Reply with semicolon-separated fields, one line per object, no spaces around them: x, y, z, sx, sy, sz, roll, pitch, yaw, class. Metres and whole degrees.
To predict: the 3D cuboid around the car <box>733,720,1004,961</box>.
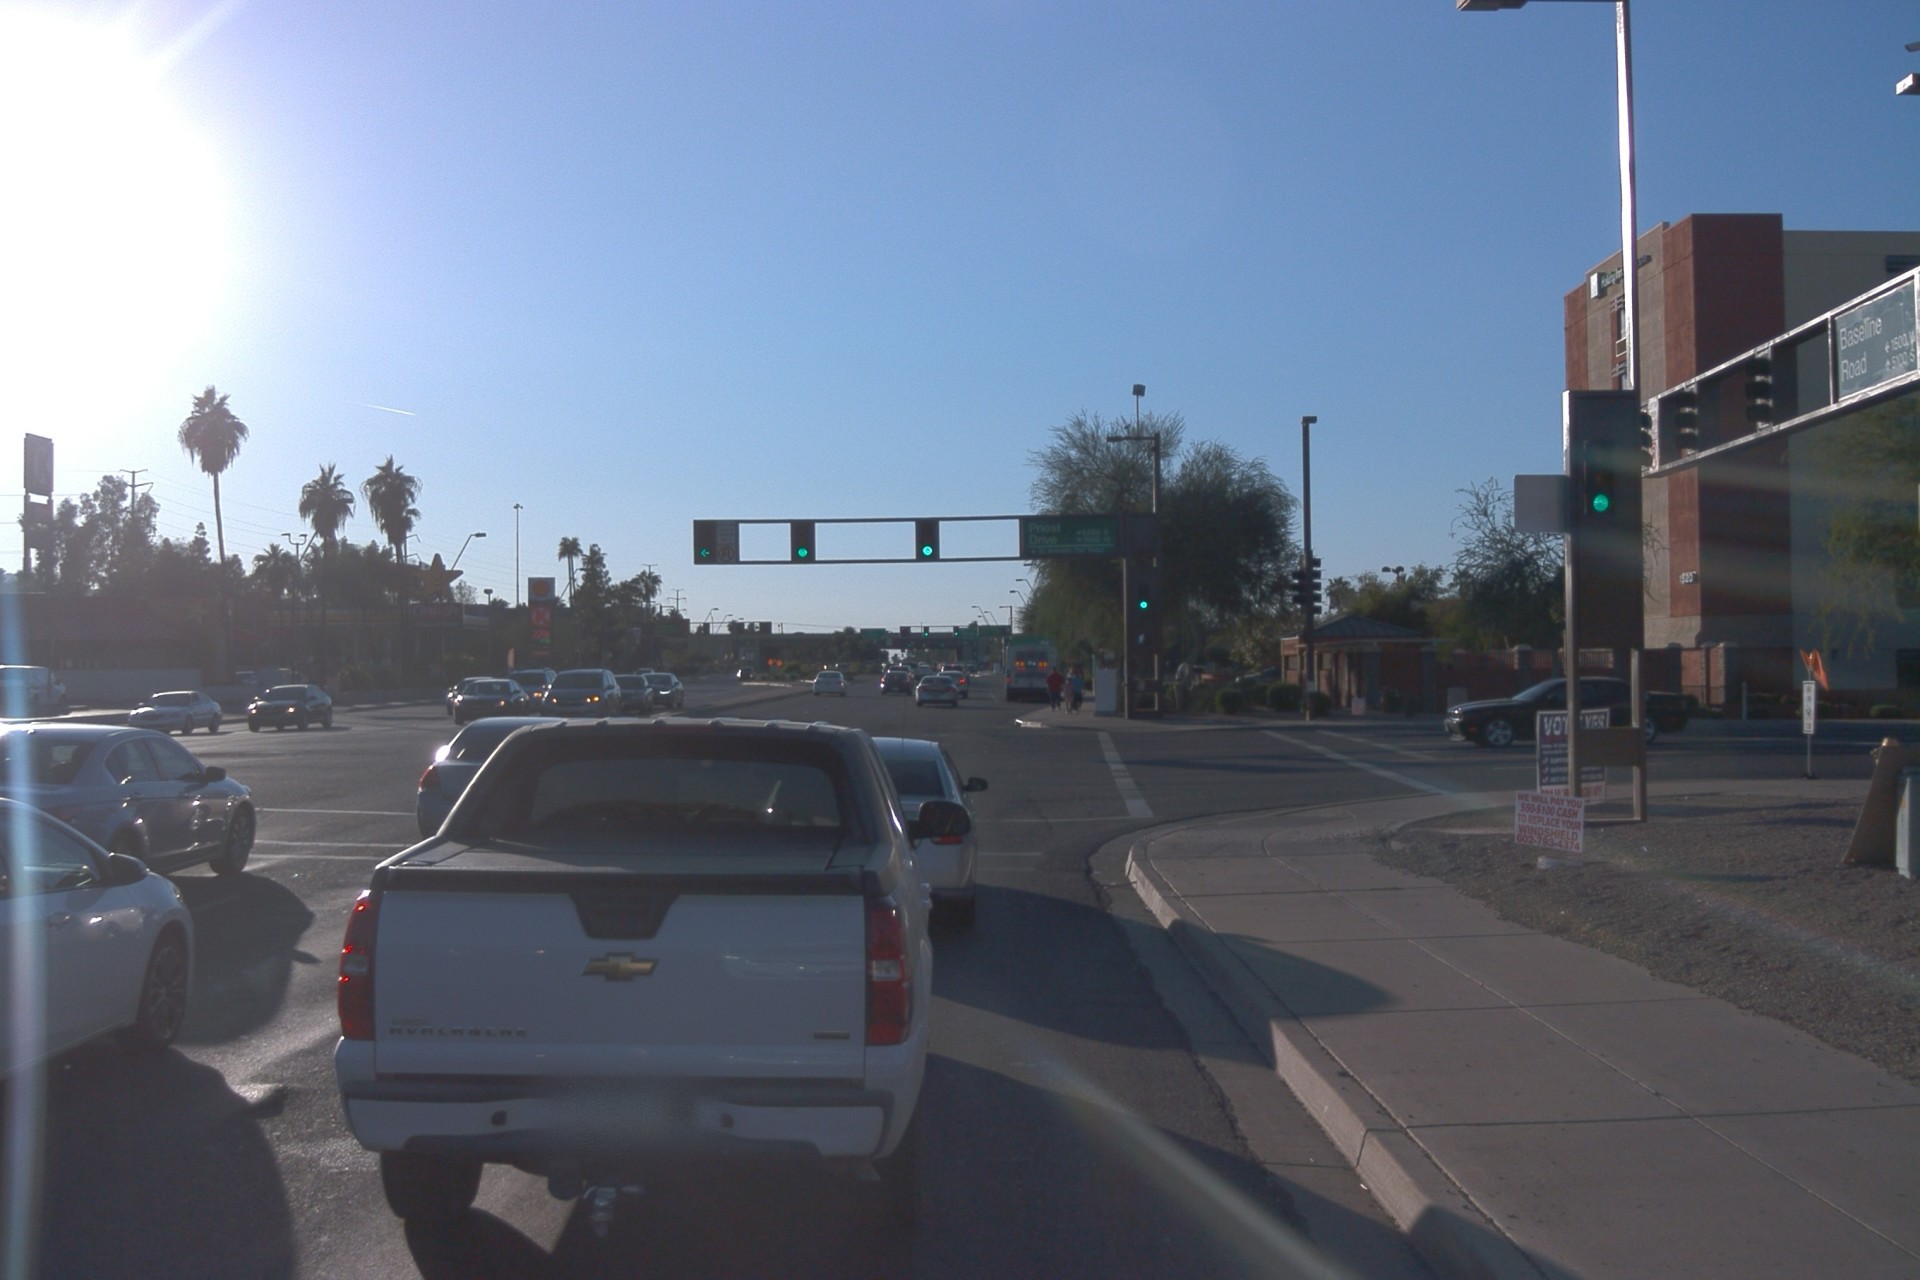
-0.711;1.603;18.061;2.031;1.680;4.704;1;-1;-1;car

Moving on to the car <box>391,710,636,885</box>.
-4.675;1.605;22.340;1.769;1.630;3.866;1;-1;0;car

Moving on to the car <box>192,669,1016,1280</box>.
-1.143;1.201;9.024;2.477;2.120;5.357;1;-1;-1;car
